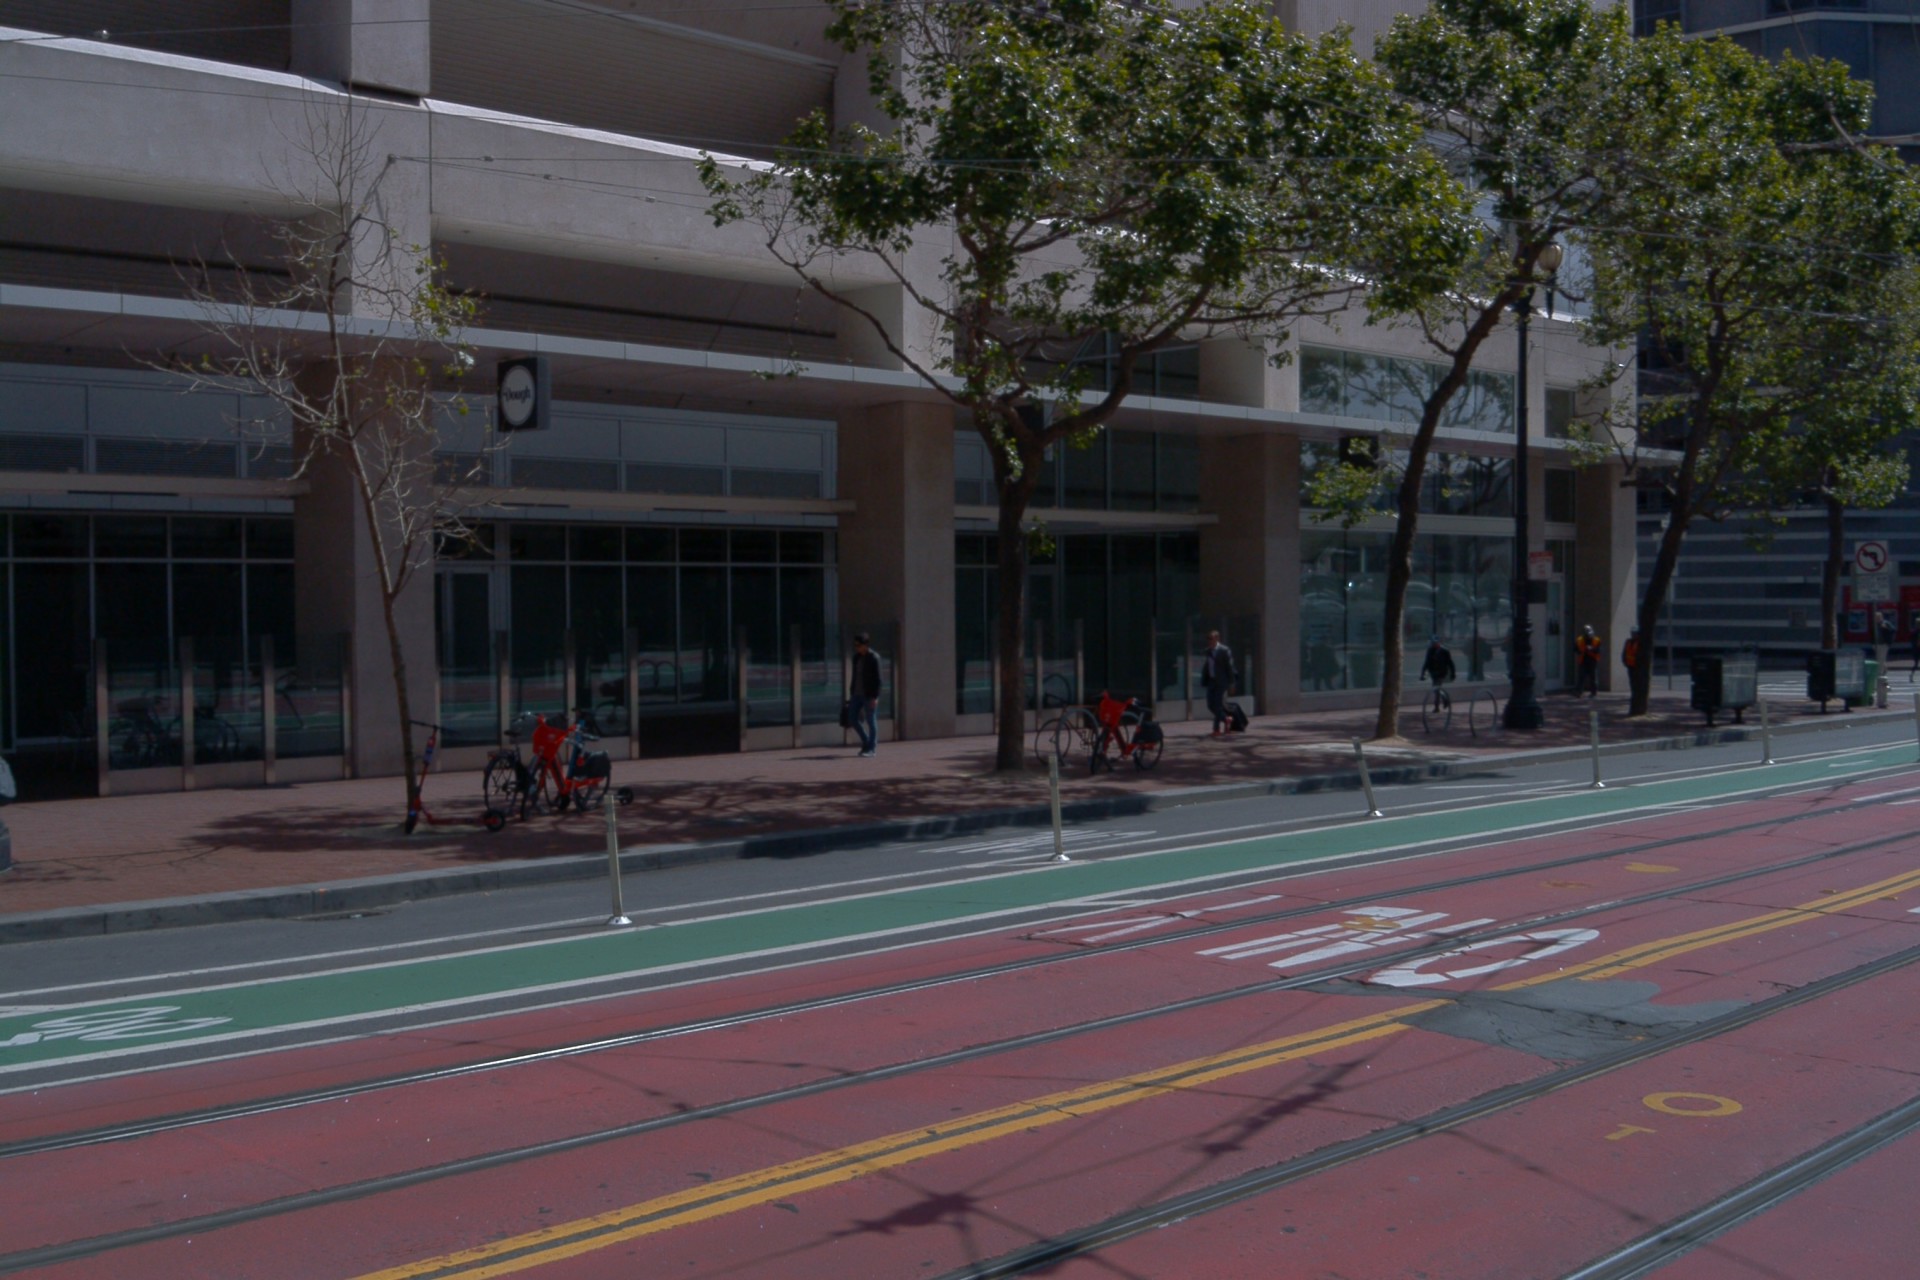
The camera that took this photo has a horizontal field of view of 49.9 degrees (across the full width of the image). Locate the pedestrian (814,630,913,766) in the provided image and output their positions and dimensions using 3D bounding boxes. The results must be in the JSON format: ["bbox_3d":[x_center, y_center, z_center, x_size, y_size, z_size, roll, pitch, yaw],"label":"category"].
[{"bbox_3d":[-1.420,0.827,30.420,0.850,1.950,1.198,1,1,44],"label":"pedestrian"}]

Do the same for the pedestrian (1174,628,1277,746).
[{"bbox_3d":[4.546,0.777,35.342,1.558,1.950,0.976,-1,1,-42],"label":"pedestrian"}]
